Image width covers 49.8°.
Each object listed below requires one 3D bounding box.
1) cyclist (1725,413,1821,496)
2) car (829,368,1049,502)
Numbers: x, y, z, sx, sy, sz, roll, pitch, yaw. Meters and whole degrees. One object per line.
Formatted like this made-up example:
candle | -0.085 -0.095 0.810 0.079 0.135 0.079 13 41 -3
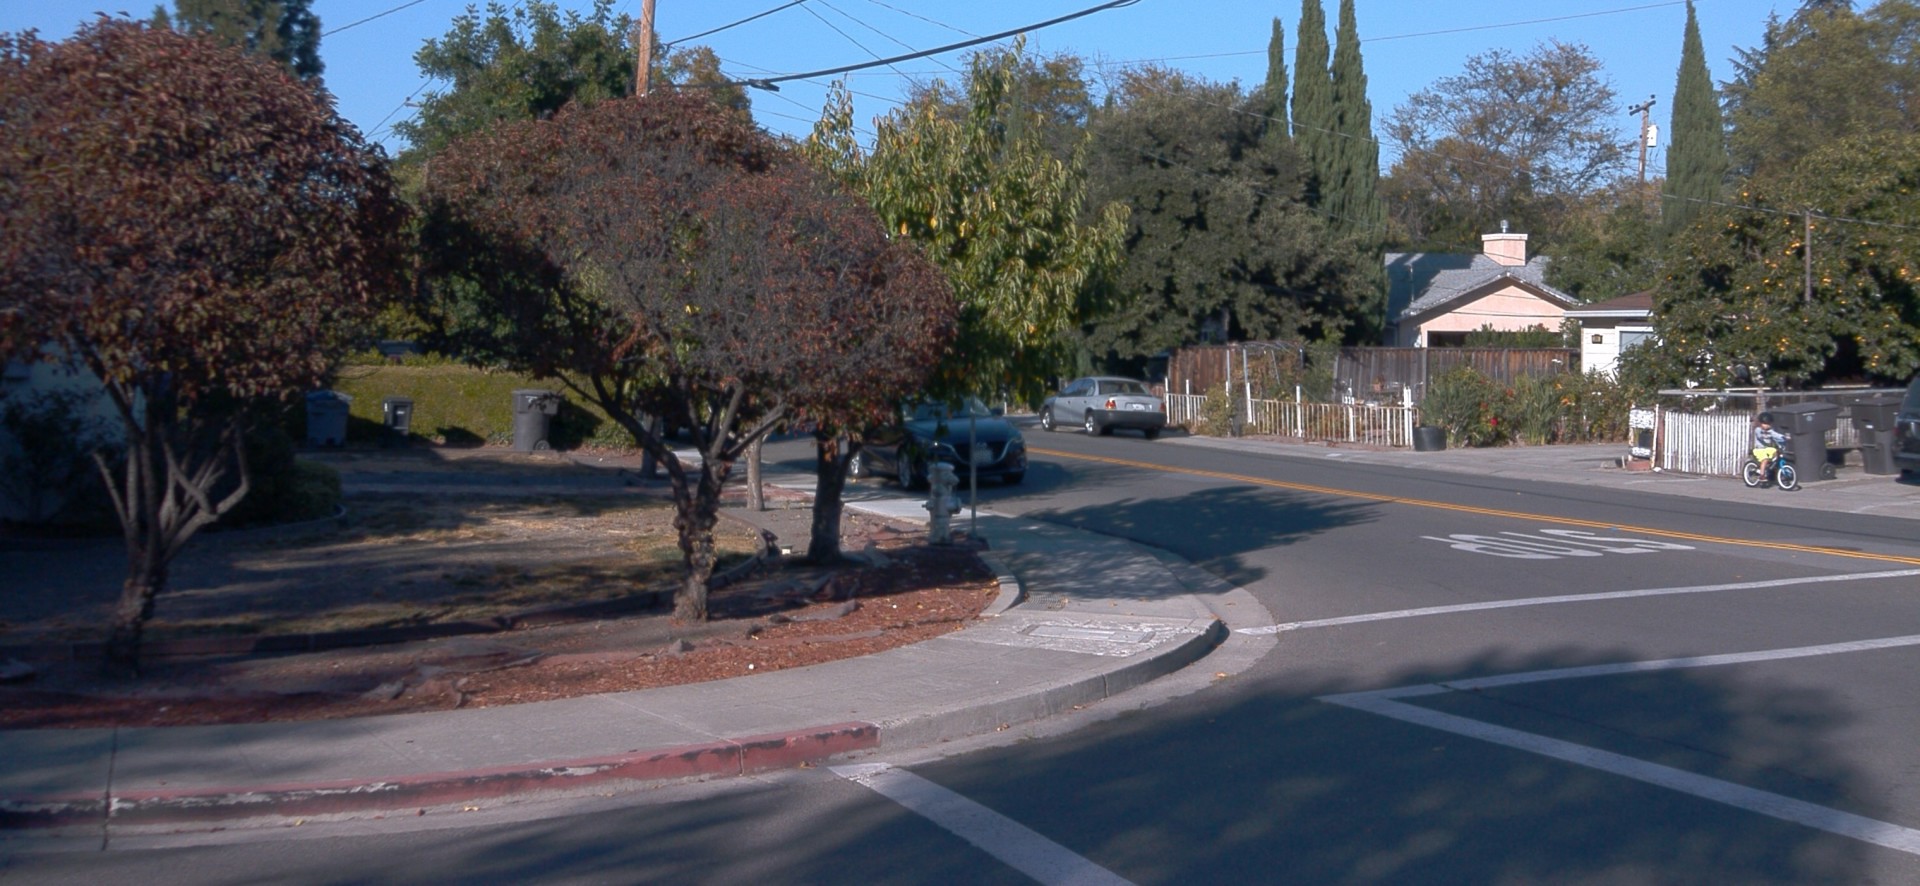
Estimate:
cyclist | 11.656 0.152 29.680 0.647 1.058 1.210 0 4 -18
car | -0.421 -0.202 31.680 2.032 1.554 4.626 -1 5 -19
